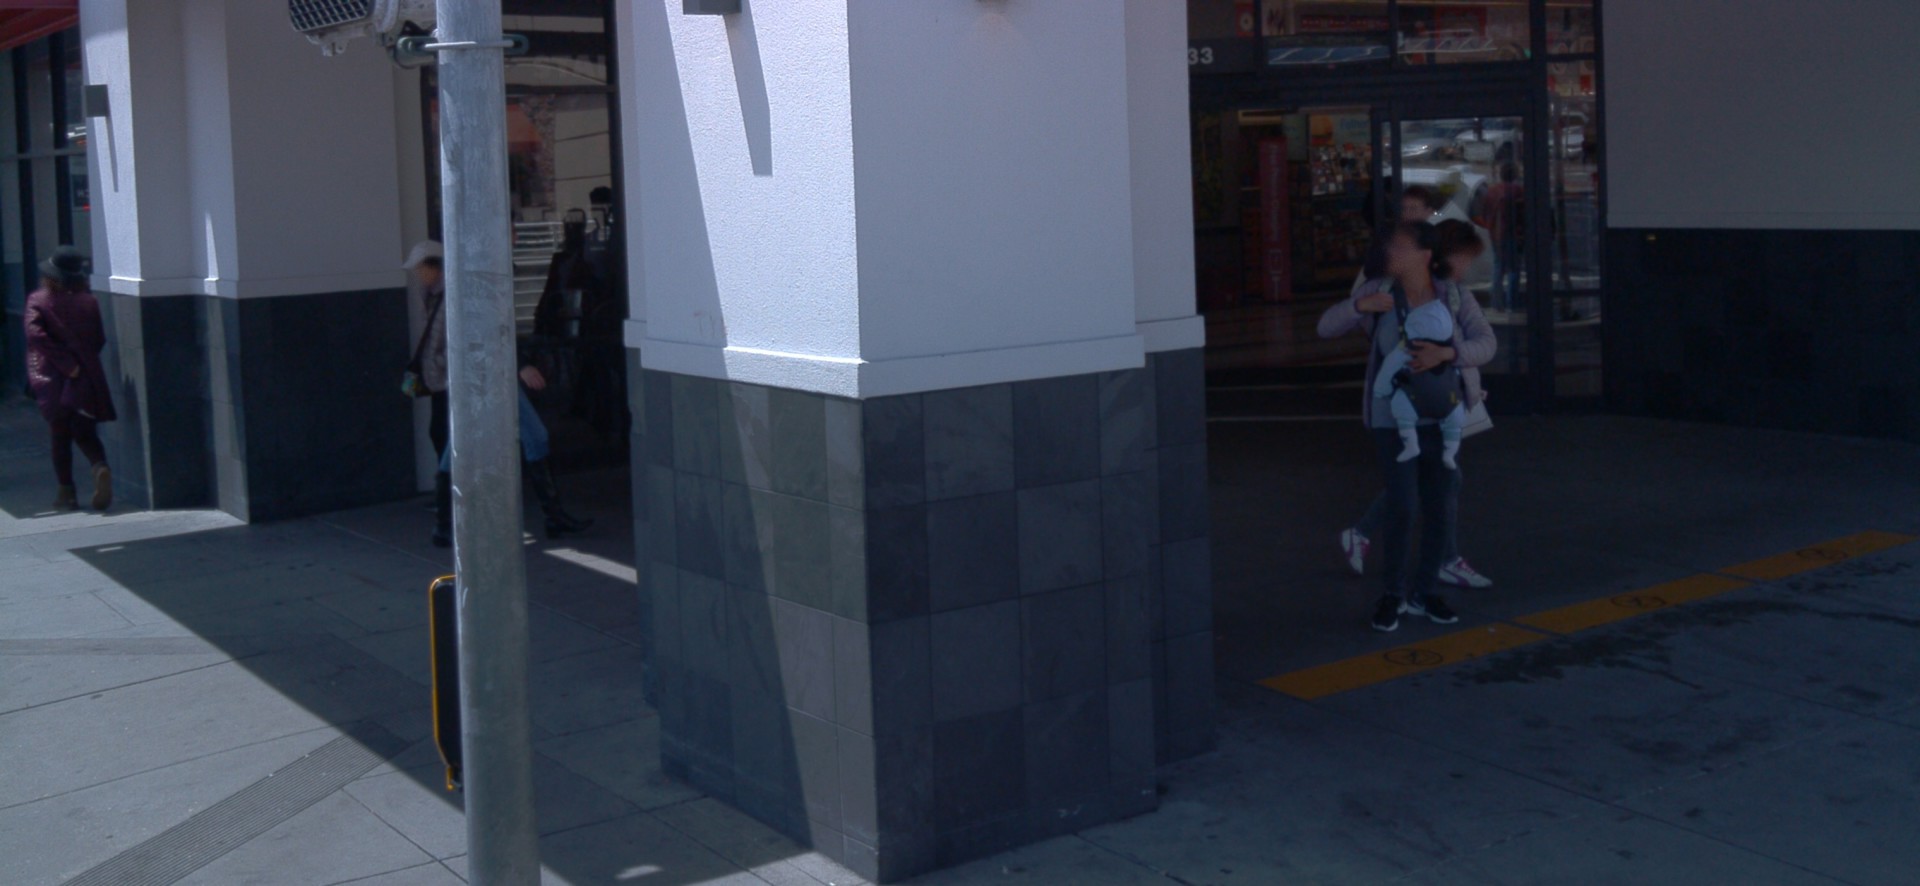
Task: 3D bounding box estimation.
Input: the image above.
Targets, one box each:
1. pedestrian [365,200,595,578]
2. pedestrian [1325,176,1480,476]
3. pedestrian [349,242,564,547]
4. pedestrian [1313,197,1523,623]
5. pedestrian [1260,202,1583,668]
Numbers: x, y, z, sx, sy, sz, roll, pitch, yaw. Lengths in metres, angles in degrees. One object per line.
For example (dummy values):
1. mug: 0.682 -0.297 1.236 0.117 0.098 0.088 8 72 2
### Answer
1. pedestrian: -2.342 -0.296 10.136 0.937 1.789 0.828 0 1 0
2. pedestrian: 2.561 -0.697 11.835 0.780 1.649 0.894 0 1 18
3. pedestrian: -2.784 -0.314 11.312 0.968 1.579 0.955 -1 2 -26
4. pedestrian: 1.934 -0.182 8.680 0.822 1.689 0.884 0 1 13
5. pedestrian: 1.766 -0.086 8.053 1.071 1.699 1.067 0 2 3
